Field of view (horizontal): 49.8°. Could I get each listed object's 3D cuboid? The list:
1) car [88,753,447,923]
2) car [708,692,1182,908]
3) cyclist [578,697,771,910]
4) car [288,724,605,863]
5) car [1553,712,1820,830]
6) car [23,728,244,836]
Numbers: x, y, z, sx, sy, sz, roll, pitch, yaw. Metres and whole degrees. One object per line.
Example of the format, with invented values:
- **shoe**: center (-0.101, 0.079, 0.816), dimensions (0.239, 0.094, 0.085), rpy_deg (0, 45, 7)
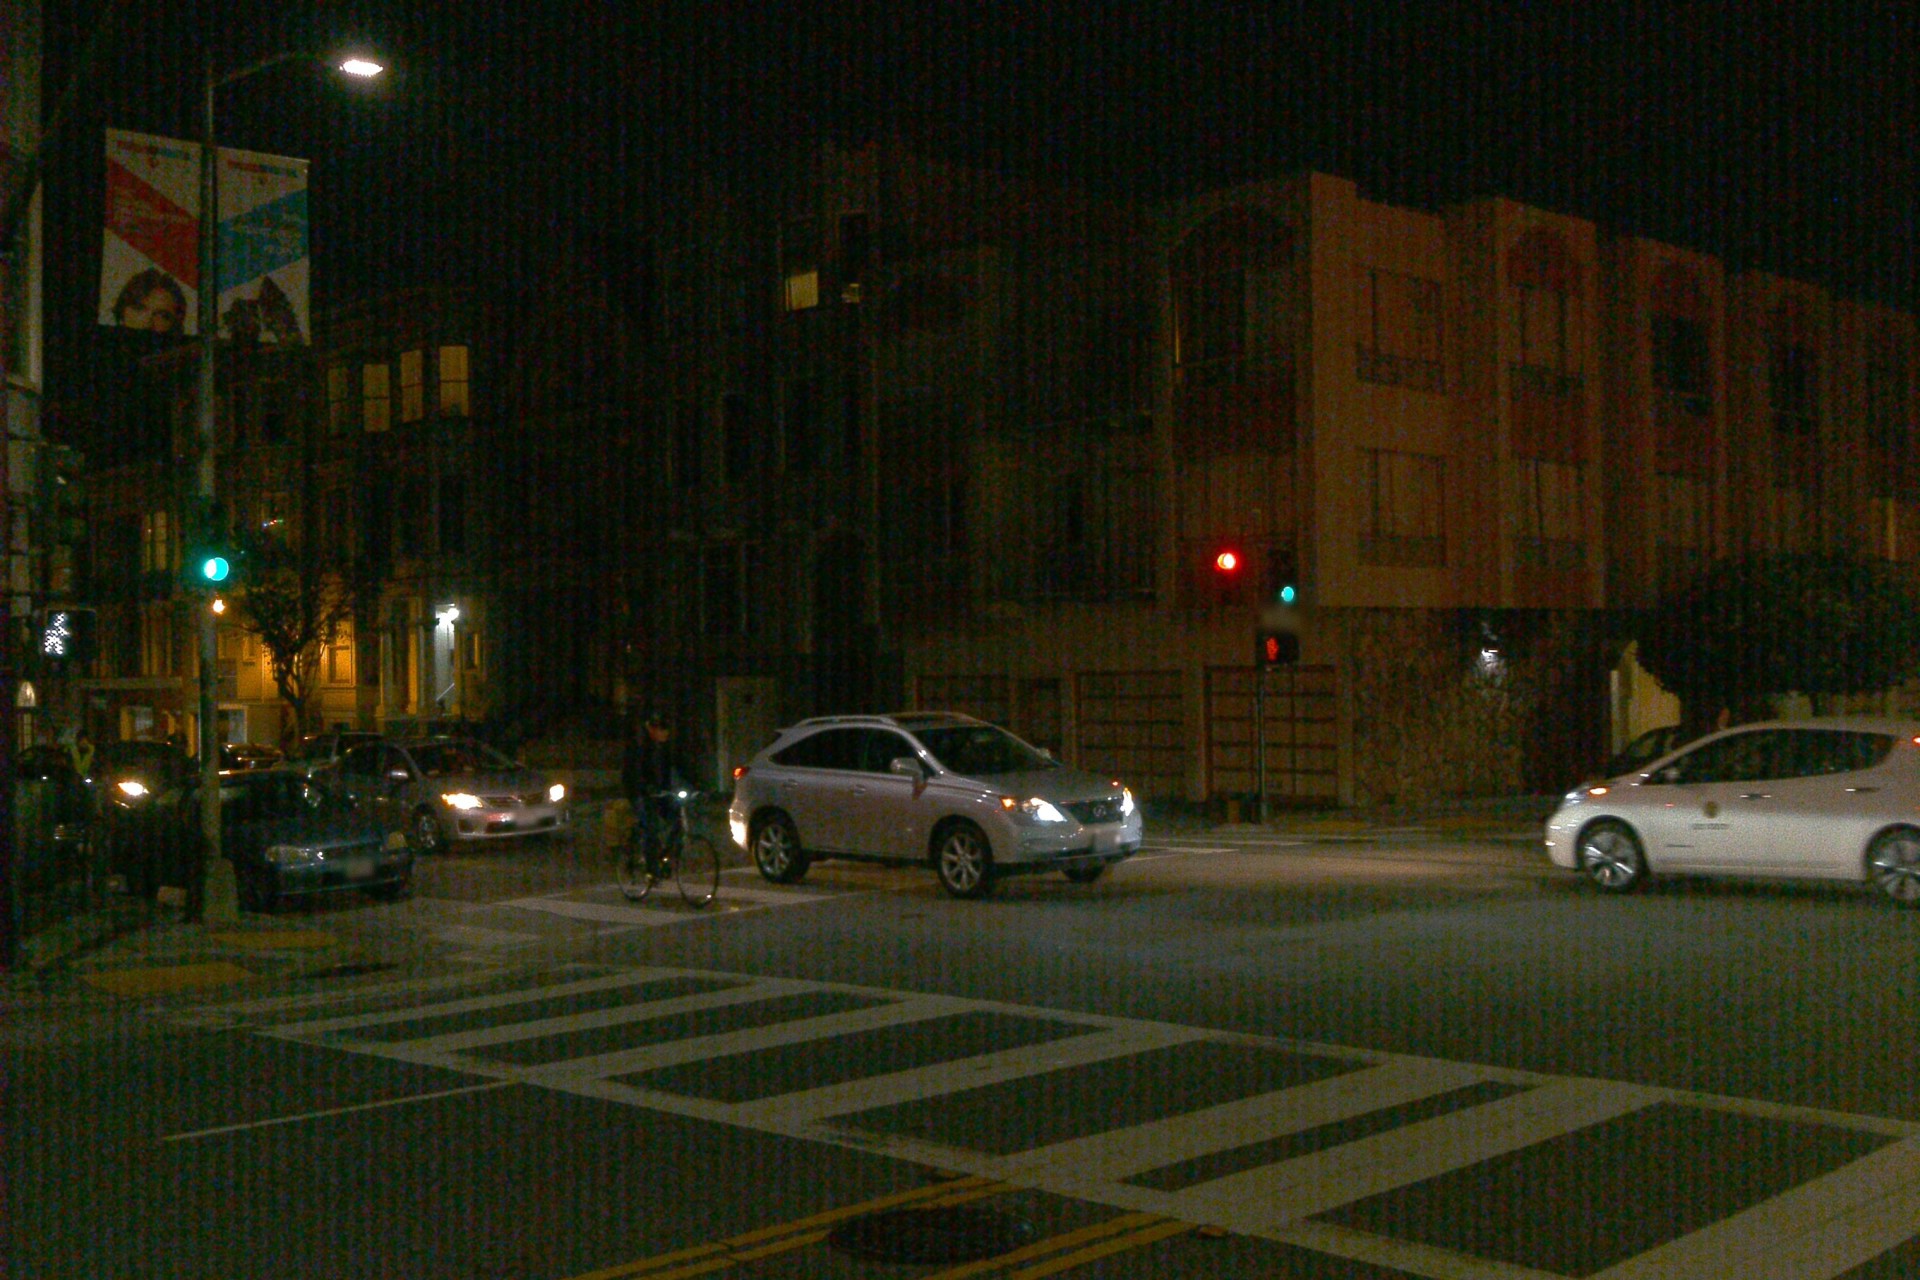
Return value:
- **car**: center (-7.498, 2.027, 22.146), dimensions (1.946, 1.350, 4.278), rpy_deg (1, 0, -44)
- **car**: center (-0.256, 1.490, 20.858), dimensions (2.139, 1.760, 4.613), rpy_deg (1, 0, -45)
- **cyclist**: center (-2.759, 1.518, 19.826), dimensions (0.832, 1.870, 1.925), rpy_deg (1, 0, -44)
- **car**: center (-6.936, 1.975, 27.625), dimensions (2.125, 1.450, 4.459), rpy_deg (1, 0, -44)
- **car**: center (10.598, 1.831, 29.957), dimensions (1.967, 1.430, 4.633), rpy_deg (1, 0, 42)
- **car**: center (-14.133, 2.356, 35.180), dimensions (2.021, 1.480, 4.494), rpy_deg (1, 0, -42)
